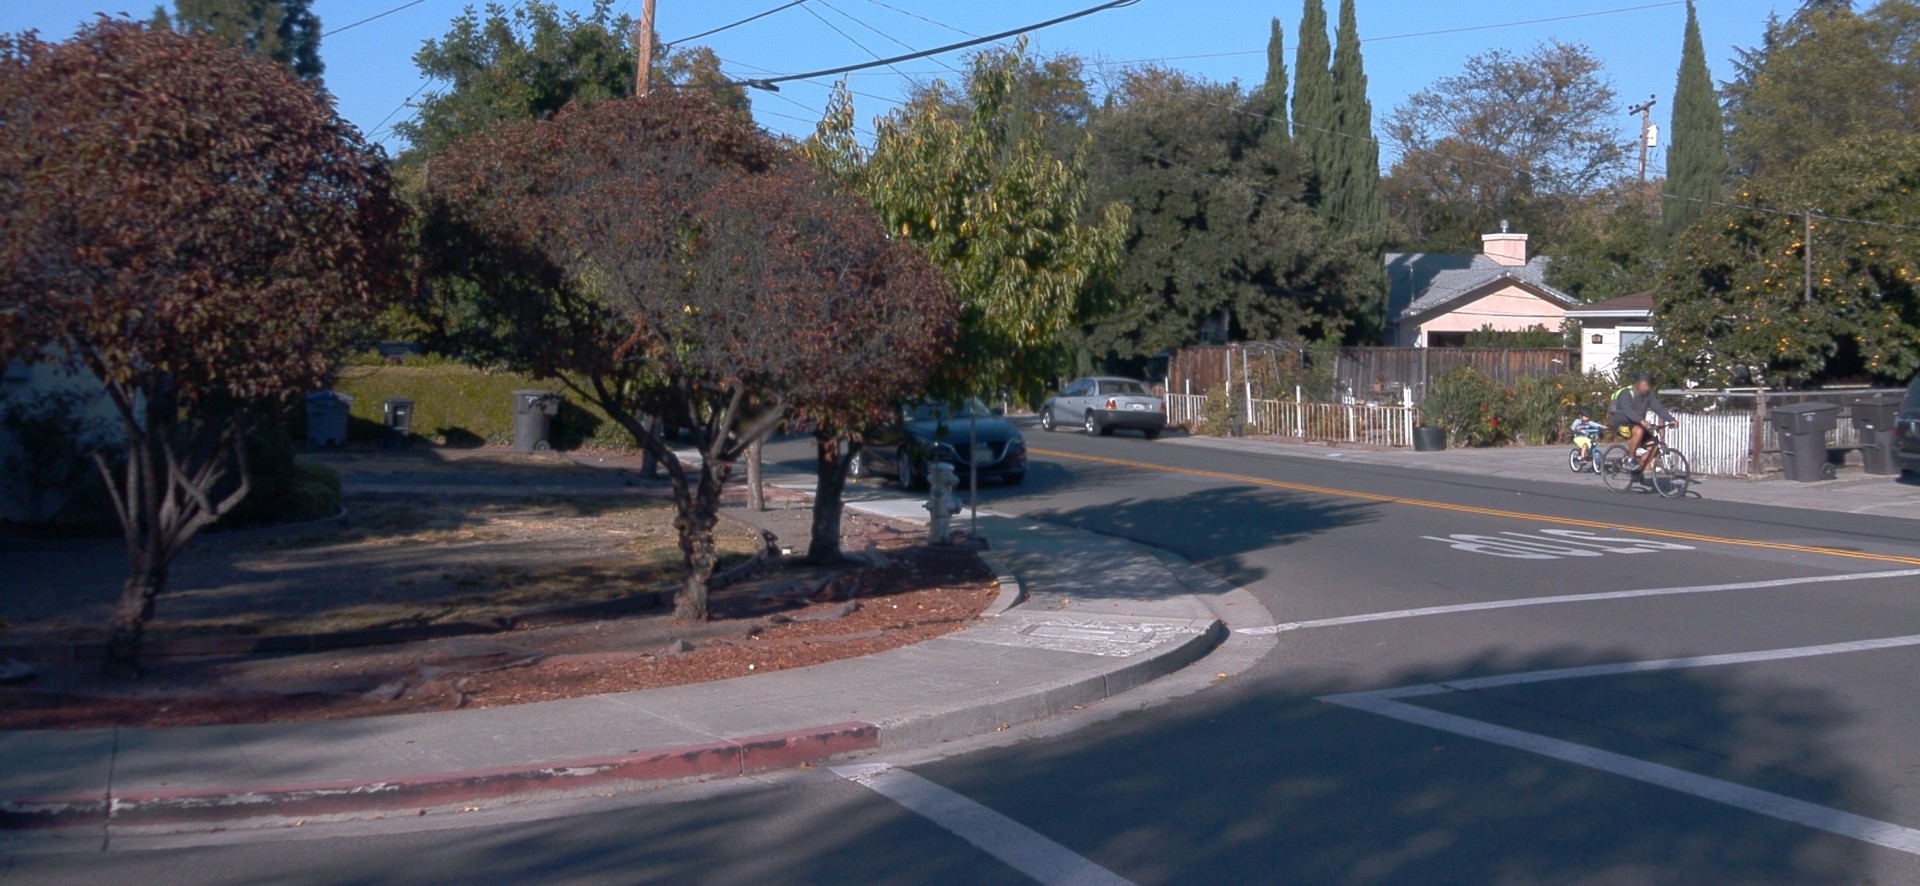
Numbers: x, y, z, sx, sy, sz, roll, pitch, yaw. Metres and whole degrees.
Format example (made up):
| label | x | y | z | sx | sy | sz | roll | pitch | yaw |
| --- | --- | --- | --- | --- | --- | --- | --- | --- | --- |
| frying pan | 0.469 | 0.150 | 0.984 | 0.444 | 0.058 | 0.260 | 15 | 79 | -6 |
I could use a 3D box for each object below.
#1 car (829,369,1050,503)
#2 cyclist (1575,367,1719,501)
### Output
| label | x | y | z | sx | sy | sz | roll | pitch | yaw |
| --- | --- | --- | --- | --- | --- | --- | --- | --- | --- |
| car | -0.412 | -0.185 | 31.680 | 2.032 | 1.554 | 4.626 | -1 | 5 | -19 |
| cyclist | 9.581 | -0.163 | 28.926 | 0.824 | 1.664 | 1.958 | 0 | 4 | -22 |
